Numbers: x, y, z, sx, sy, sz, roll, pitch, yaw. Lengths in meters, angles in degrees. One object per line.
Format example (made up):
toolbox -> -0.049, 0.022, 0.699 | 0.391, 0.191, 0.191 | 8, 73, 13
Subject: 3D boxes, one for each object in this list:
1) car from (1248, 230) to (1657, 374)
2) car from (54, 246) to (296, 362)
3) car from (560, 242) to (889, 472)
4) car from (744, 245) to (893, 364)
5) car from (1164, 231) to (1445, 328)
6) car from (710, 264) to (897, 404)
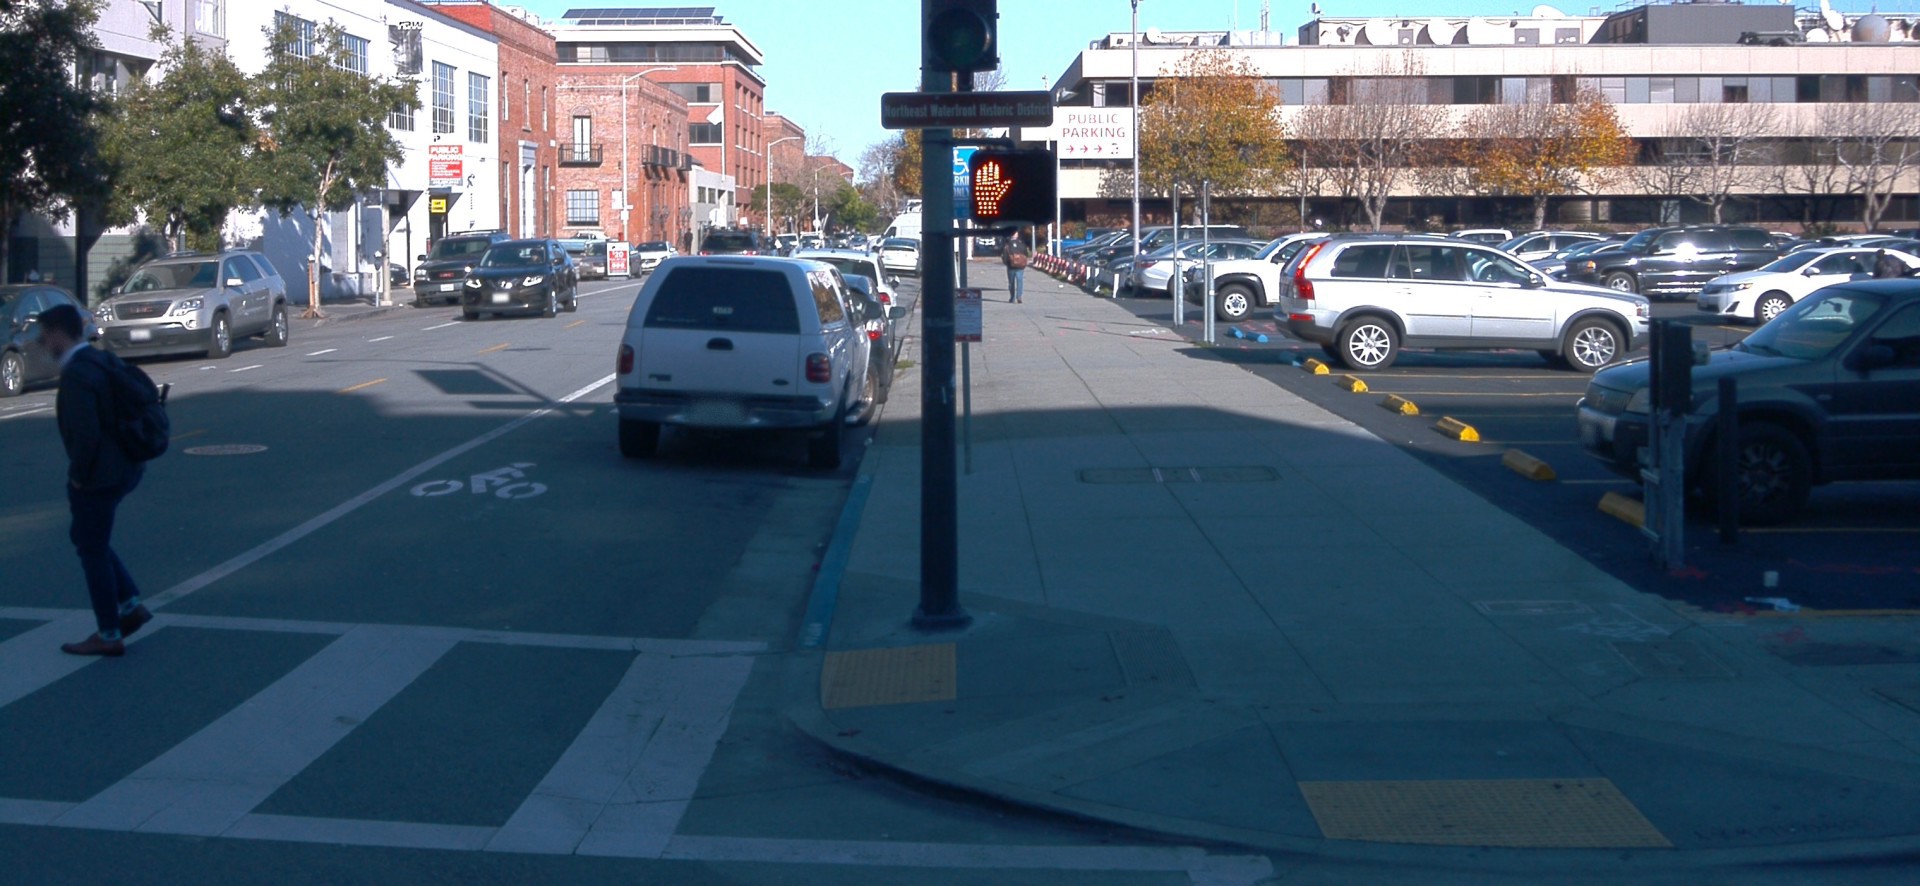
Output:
car -> 6.391, -1.892, 27.344 | 4.895, 1.787, 2.169 | 0, 3, 0
car -> -13.081, -2.414, 34.889 | 2.274, 1.794, 4.895 | -1, 5, -1
car -> -2.086, -1.004, 20.316 | 2.380, 1.913, 5.775 | 0, 5, 2
car -> -2.106, -2.208, 31.978 | 2.067, 1.684, 4.609 | -1, 5, -1
car -> 6.469, -3.120, 39.290 | 4.961, 1.737, 2.079 | -1, 3, -1
car -> -1.860, -1.431, 25.824 | 2.012, 1.535, 4.093 | -1, 5, 0
